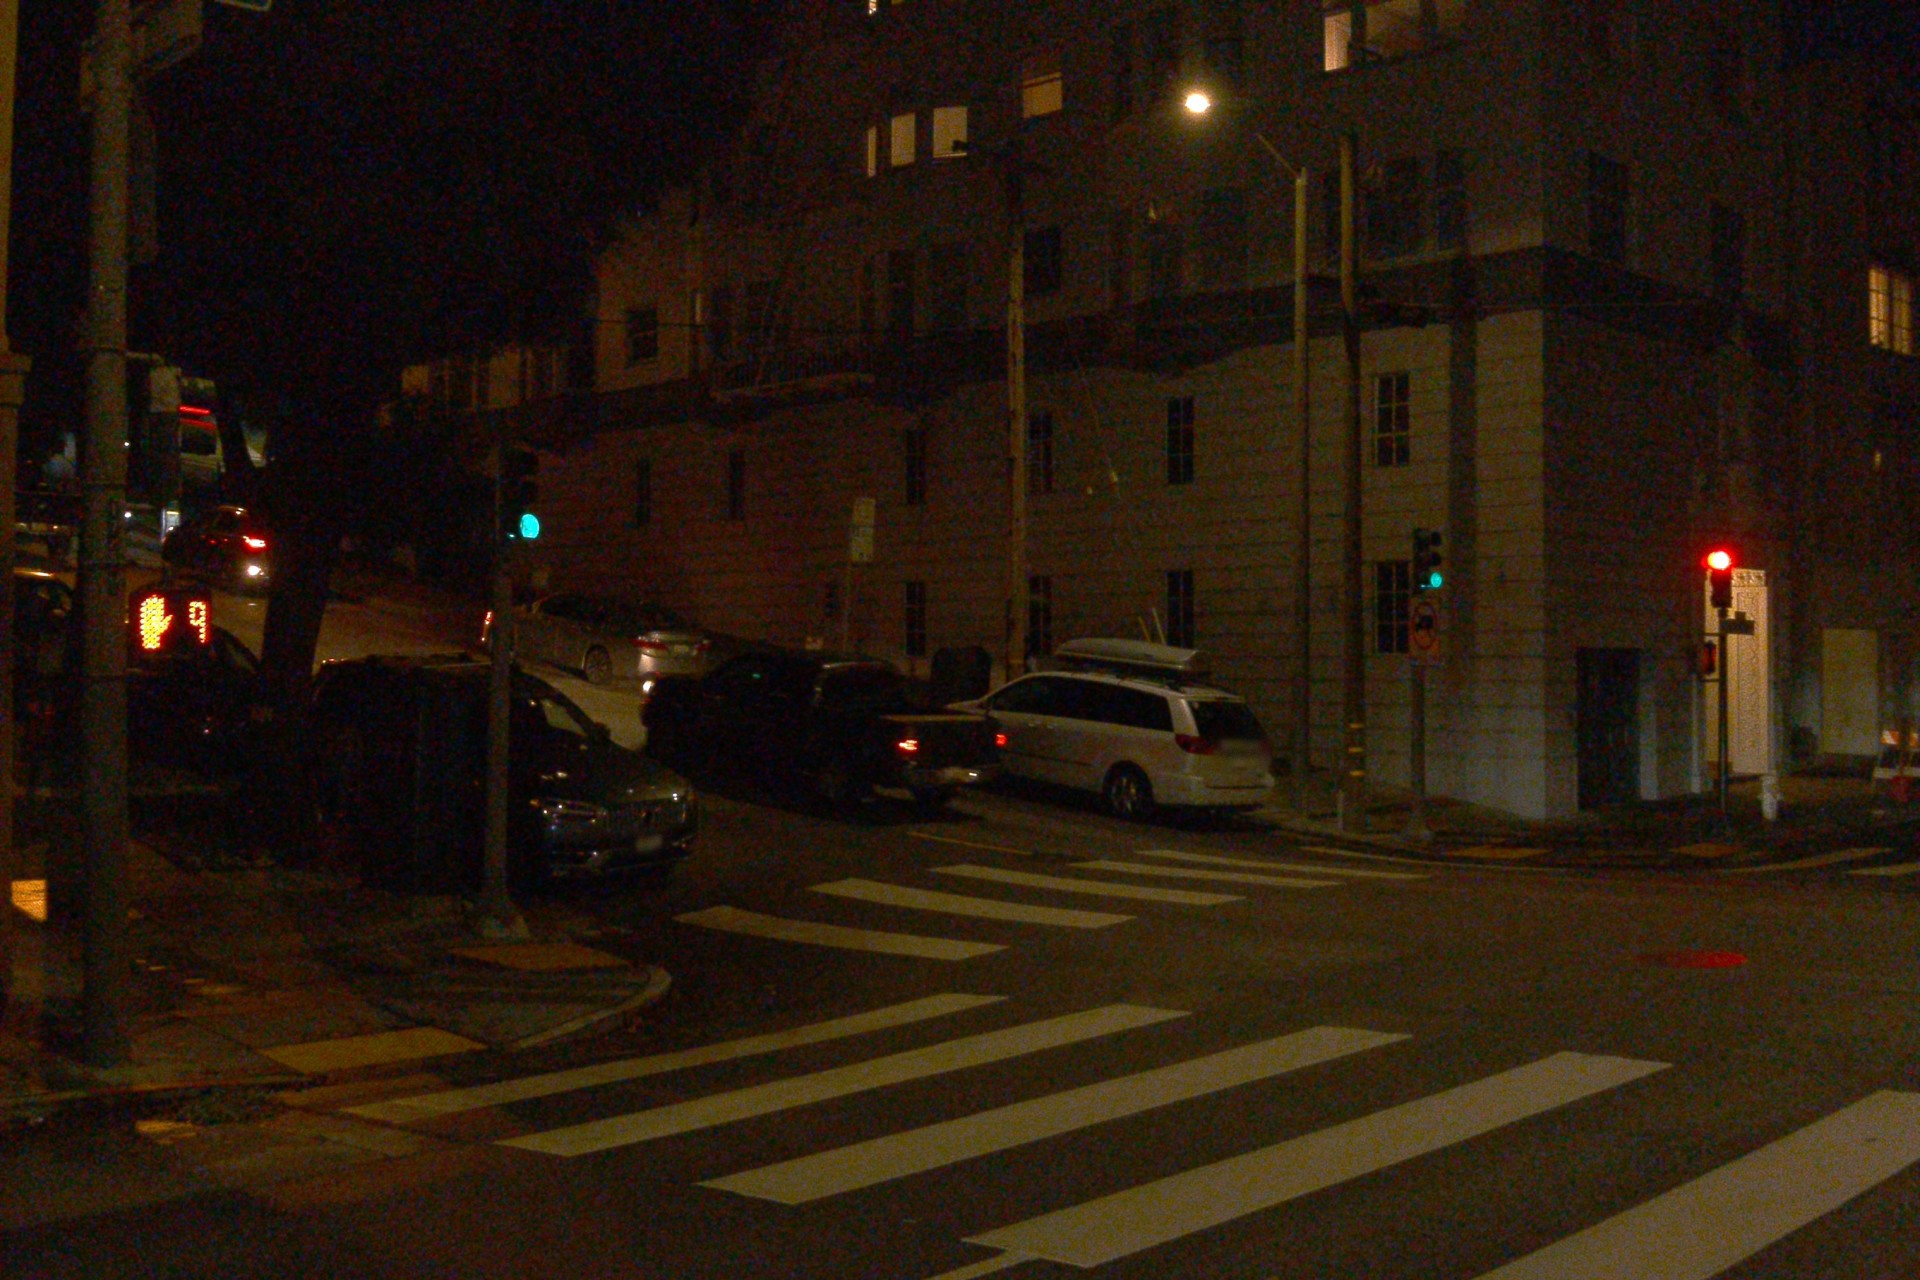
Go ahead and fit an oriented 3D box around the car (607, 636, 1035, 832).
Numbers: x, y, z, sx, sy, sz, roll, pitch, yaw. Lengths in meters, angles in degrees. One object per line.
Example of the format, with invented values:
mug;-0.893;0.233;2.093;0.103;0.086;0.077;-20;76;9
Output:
car;-1.848;1.053;25.636;5.383;2.142;2.276;1;1;44

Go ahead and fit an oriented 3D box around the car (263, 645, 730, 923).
car;-4.592;1.228;19.807;2.195;2.290;4.784;0;1;-44

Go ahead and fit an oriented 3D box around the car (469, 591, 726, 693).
car;-6.222;0.004;34.847;4.539;1.626;1.925;1;1;42

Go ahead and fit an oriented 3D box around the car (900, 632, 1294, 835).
car;1.729;1.121;27.136;4.904;2.388;2.213;1;1;44
